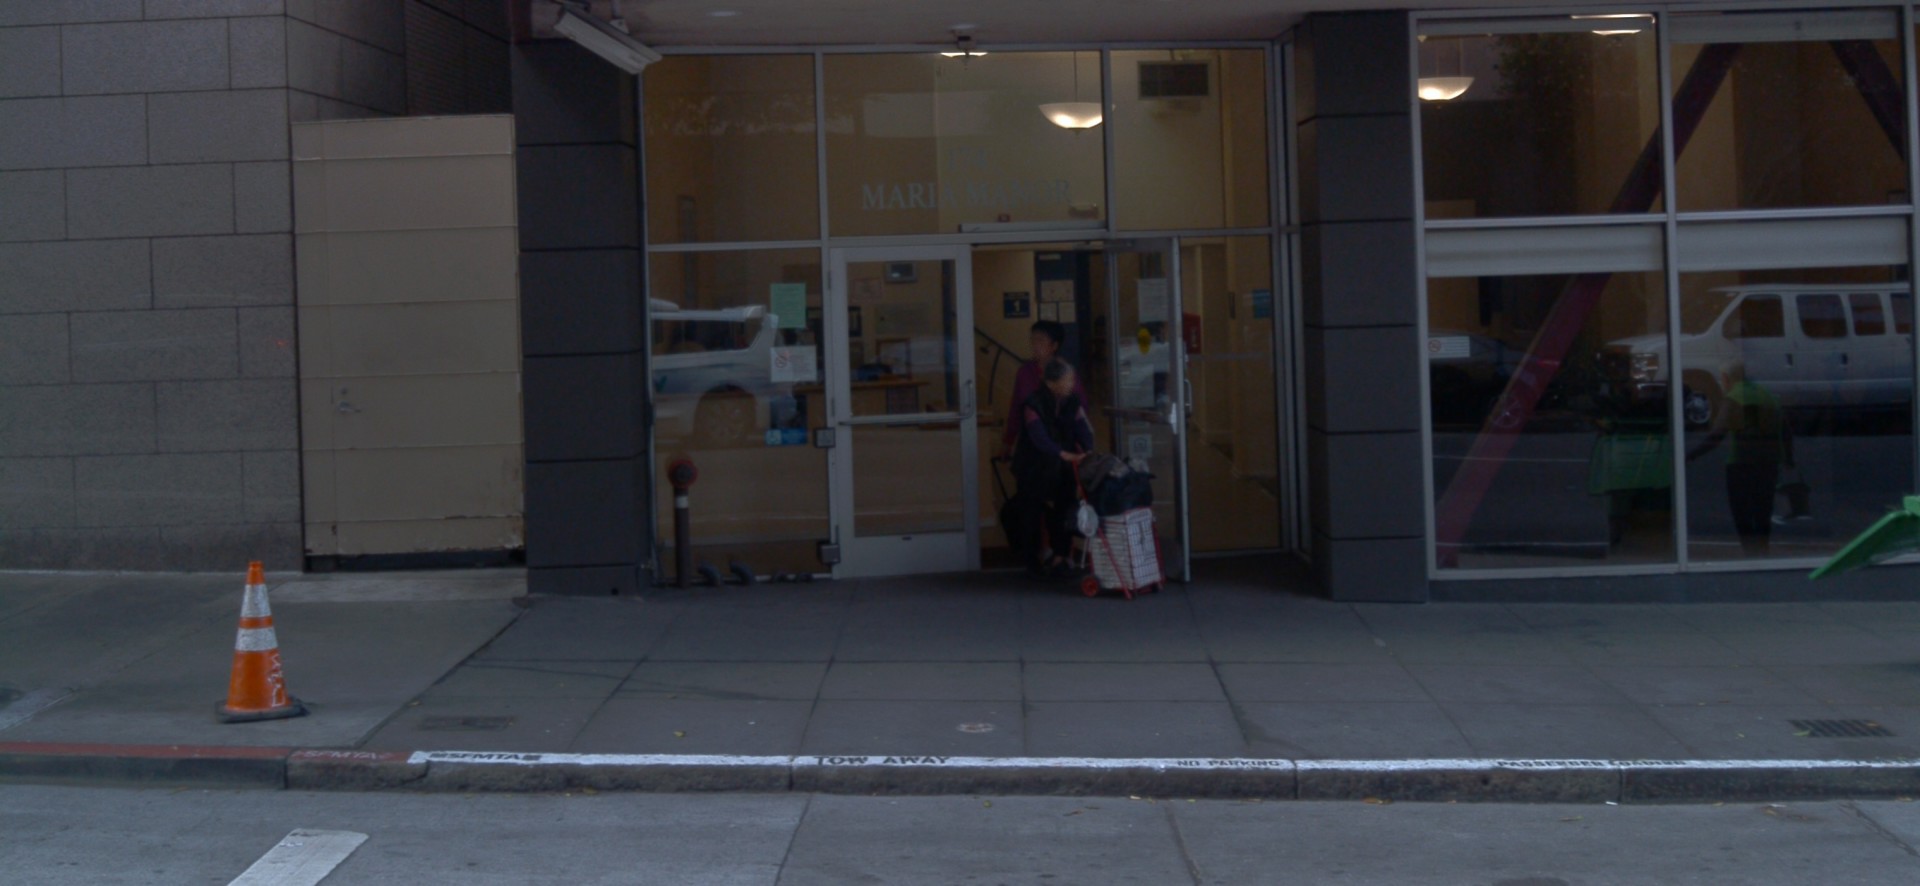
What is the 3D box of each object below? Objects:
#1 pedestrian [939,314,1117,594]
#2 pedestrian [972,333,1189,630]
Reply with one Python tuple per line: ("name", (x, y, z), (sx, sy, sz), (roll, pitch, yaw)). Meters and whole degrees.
("pedestrian", (0.470, 0.019, 13.531), (1.101, 1.678, 1.533), (0, 3, 3))
("pedestrian", (0.716, 0.181, 12.494), (0.670, 1.639, 1.260), (-1, 2, -36))
